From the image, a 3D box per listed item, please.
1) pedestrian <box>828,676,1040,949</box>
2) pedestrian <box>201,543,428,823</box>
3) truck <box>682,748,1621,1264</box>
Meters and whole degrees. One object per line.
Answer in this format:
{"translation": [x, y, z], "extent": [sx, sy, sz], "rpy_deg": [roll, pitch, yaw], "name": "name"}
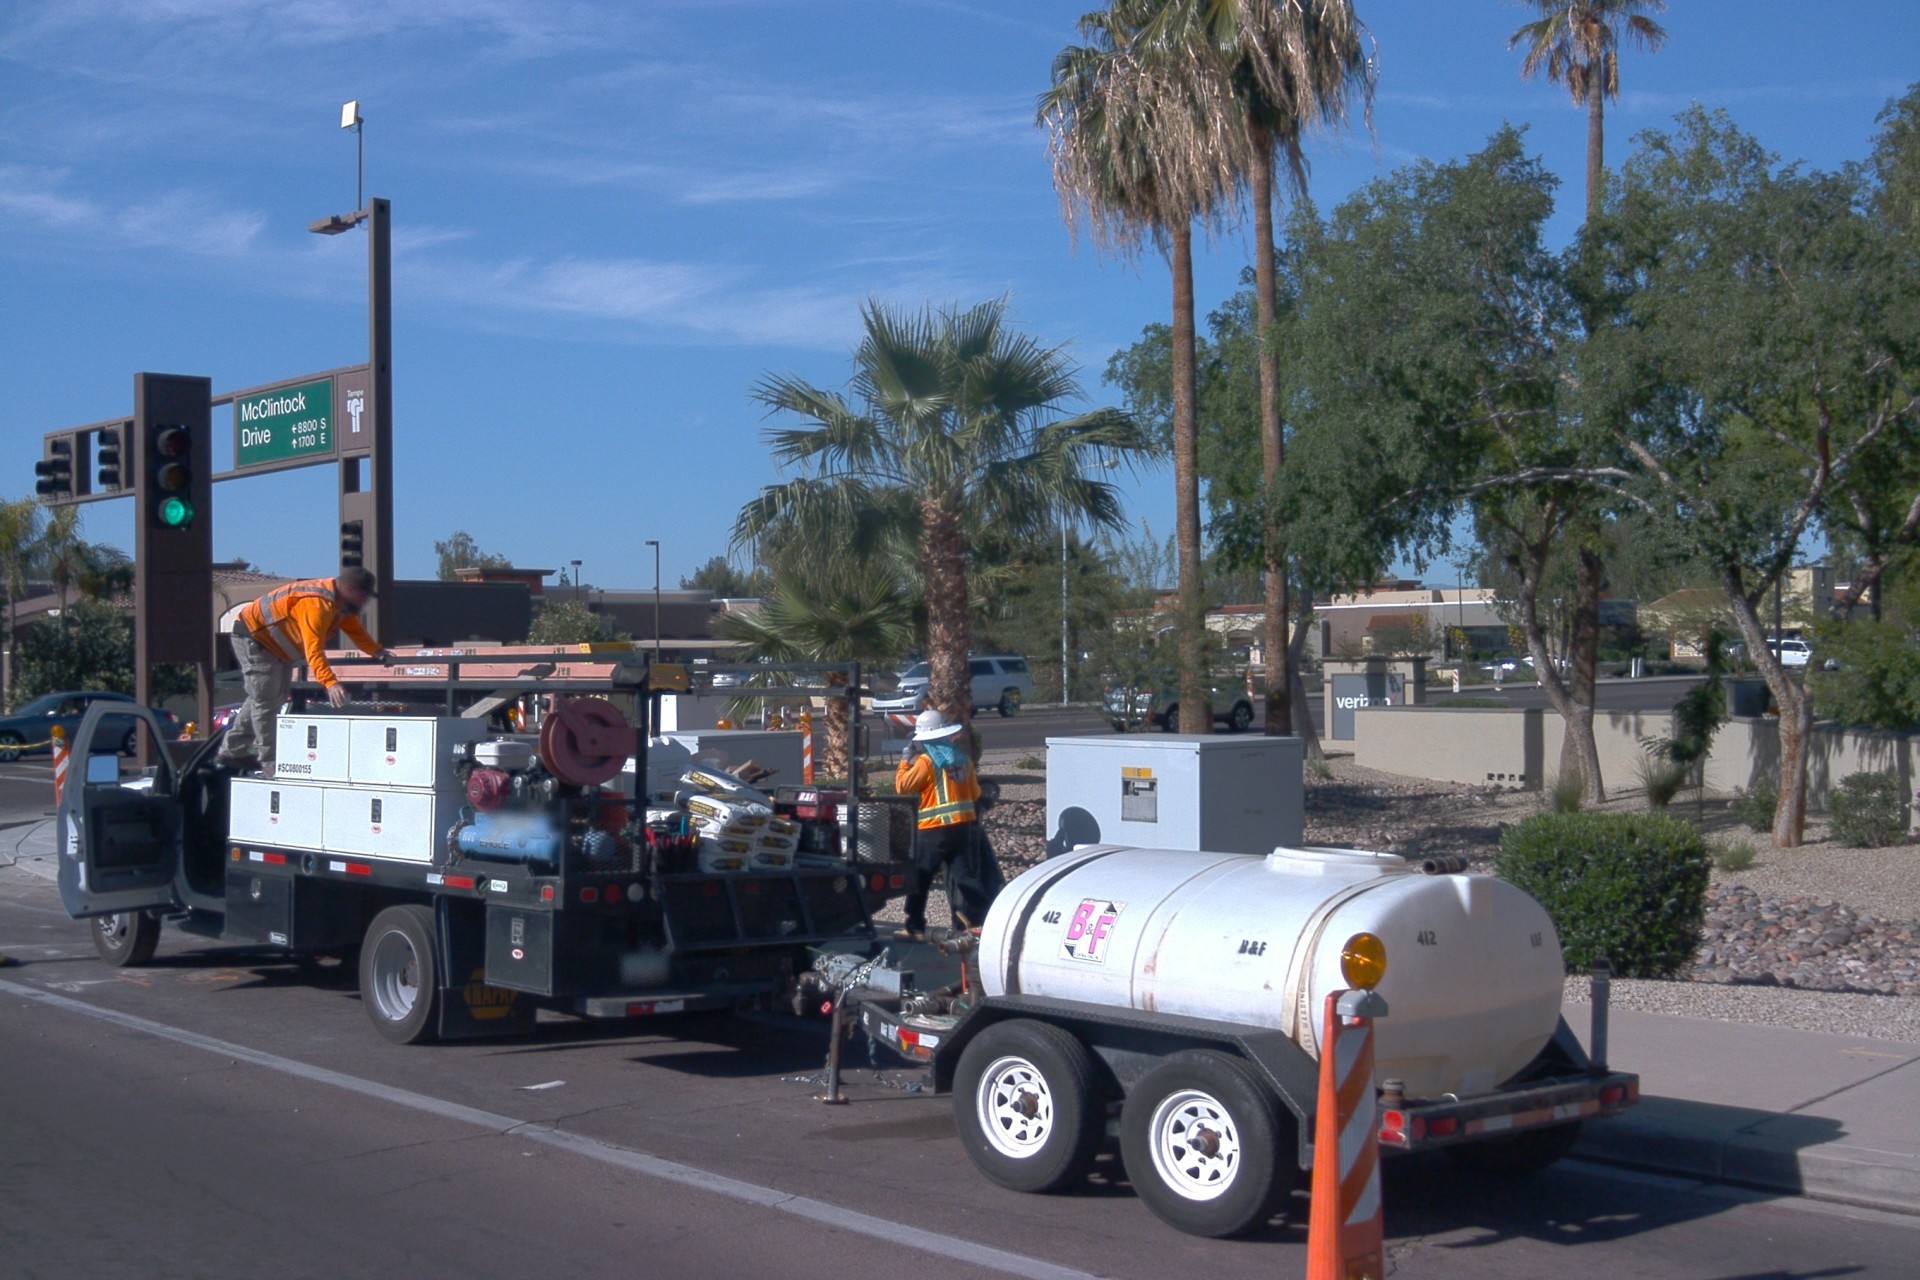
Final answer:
{"translation": [-0.184, 1.226, 15.458], "extent": [0.994, 1.910, 1.285], "rpy_deg": [0, 0, 37], "name": "pedestrian"}
{"translation": [-4.122, 0.266, 13.279], "extent": [1.176, 1.690, 0.875], "rpy_deg": [0, 0, 39], "name": "pedestrian"}
{"translation": [0.753, 1.412, 9.538], "extent": [2.324, 1.660, 3.665], "rpy_deg": [0, -1, -43], "name": "truck"}
